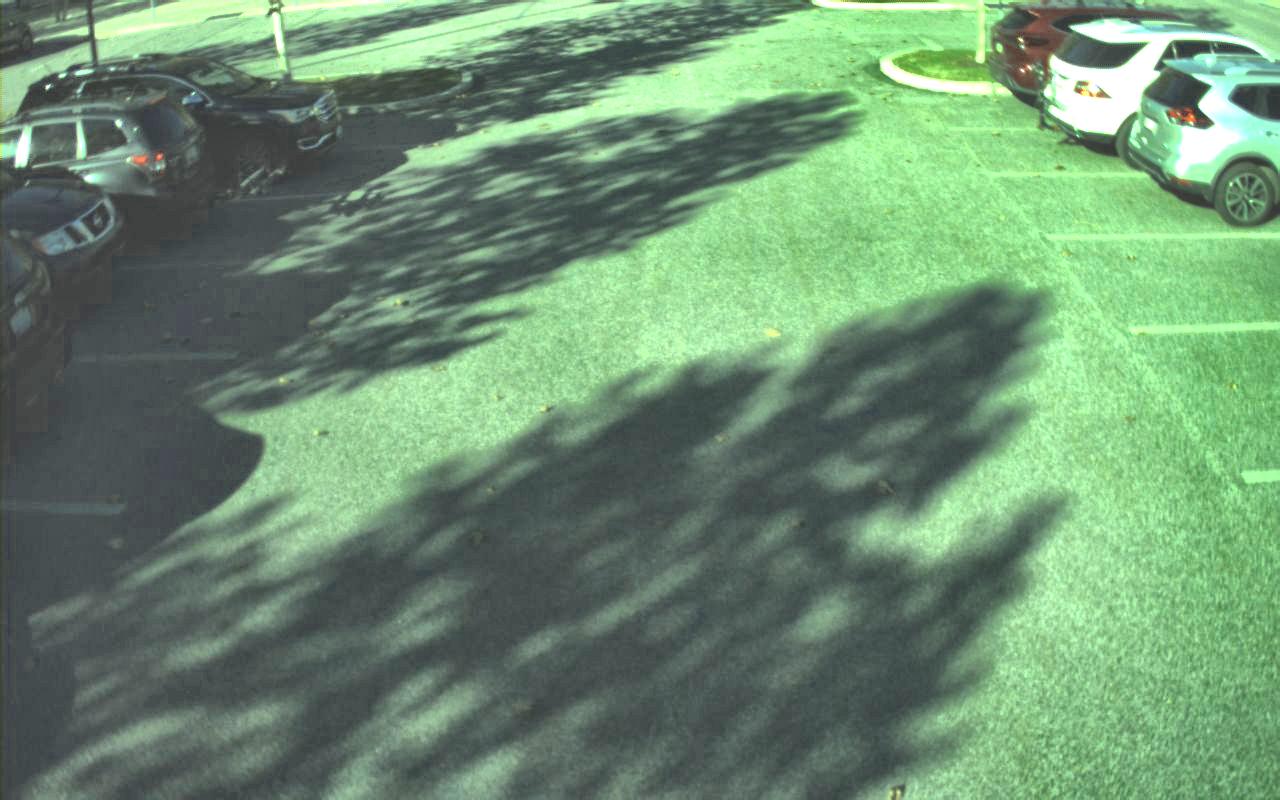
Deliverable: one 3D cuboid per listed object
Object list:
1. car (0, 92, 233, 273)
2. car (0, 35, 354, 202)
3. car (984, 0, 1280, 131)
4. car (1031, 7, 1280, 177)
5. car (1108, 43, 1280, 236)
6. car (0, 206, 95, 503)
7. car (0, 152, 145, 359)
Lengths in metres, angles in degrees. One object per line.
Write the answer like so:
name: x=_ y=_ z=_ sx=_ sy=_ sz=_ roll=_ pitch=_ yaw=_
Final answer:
car: x=-7.111 y=-2.499 z=13.134 sx=4.452 sy=1.655 sz=1.982 roll=2 pitch=16 yaw=9
car: x=-6.444 y=-3.828 z=15.850 sx=4.752 sy=1.794 sz=2.070 roll=1 pitch=16 yaw=7
car: x=7.573 y=-5.143 z=17.476 sx=4.544 sy=1.778 sz=2.001 roll=-1 pitch=16 yaw=2
car: x=7.503 y=-4.046 z=14.849 sx=4.567 sy=1.853 sz=2.022 roll=-1 pitch=16 yaw=0
car: x=7.590 y=-2.941 z=12.474 sx=4.421 sy=1.793 sz=1.972 roll=-1 pitch=16 yaw=2
car: x=-6.707 y=-0.427 z=8.371 sx=4.433 sy=1.687 sz=1.985 roll=2 pitch=16 yaw=9
car: x=-7.289 y=-1.442 z=10.986 sx=4.360 sy=1.570 sz=1.955 roll=2 pitch=17 yaw=10
